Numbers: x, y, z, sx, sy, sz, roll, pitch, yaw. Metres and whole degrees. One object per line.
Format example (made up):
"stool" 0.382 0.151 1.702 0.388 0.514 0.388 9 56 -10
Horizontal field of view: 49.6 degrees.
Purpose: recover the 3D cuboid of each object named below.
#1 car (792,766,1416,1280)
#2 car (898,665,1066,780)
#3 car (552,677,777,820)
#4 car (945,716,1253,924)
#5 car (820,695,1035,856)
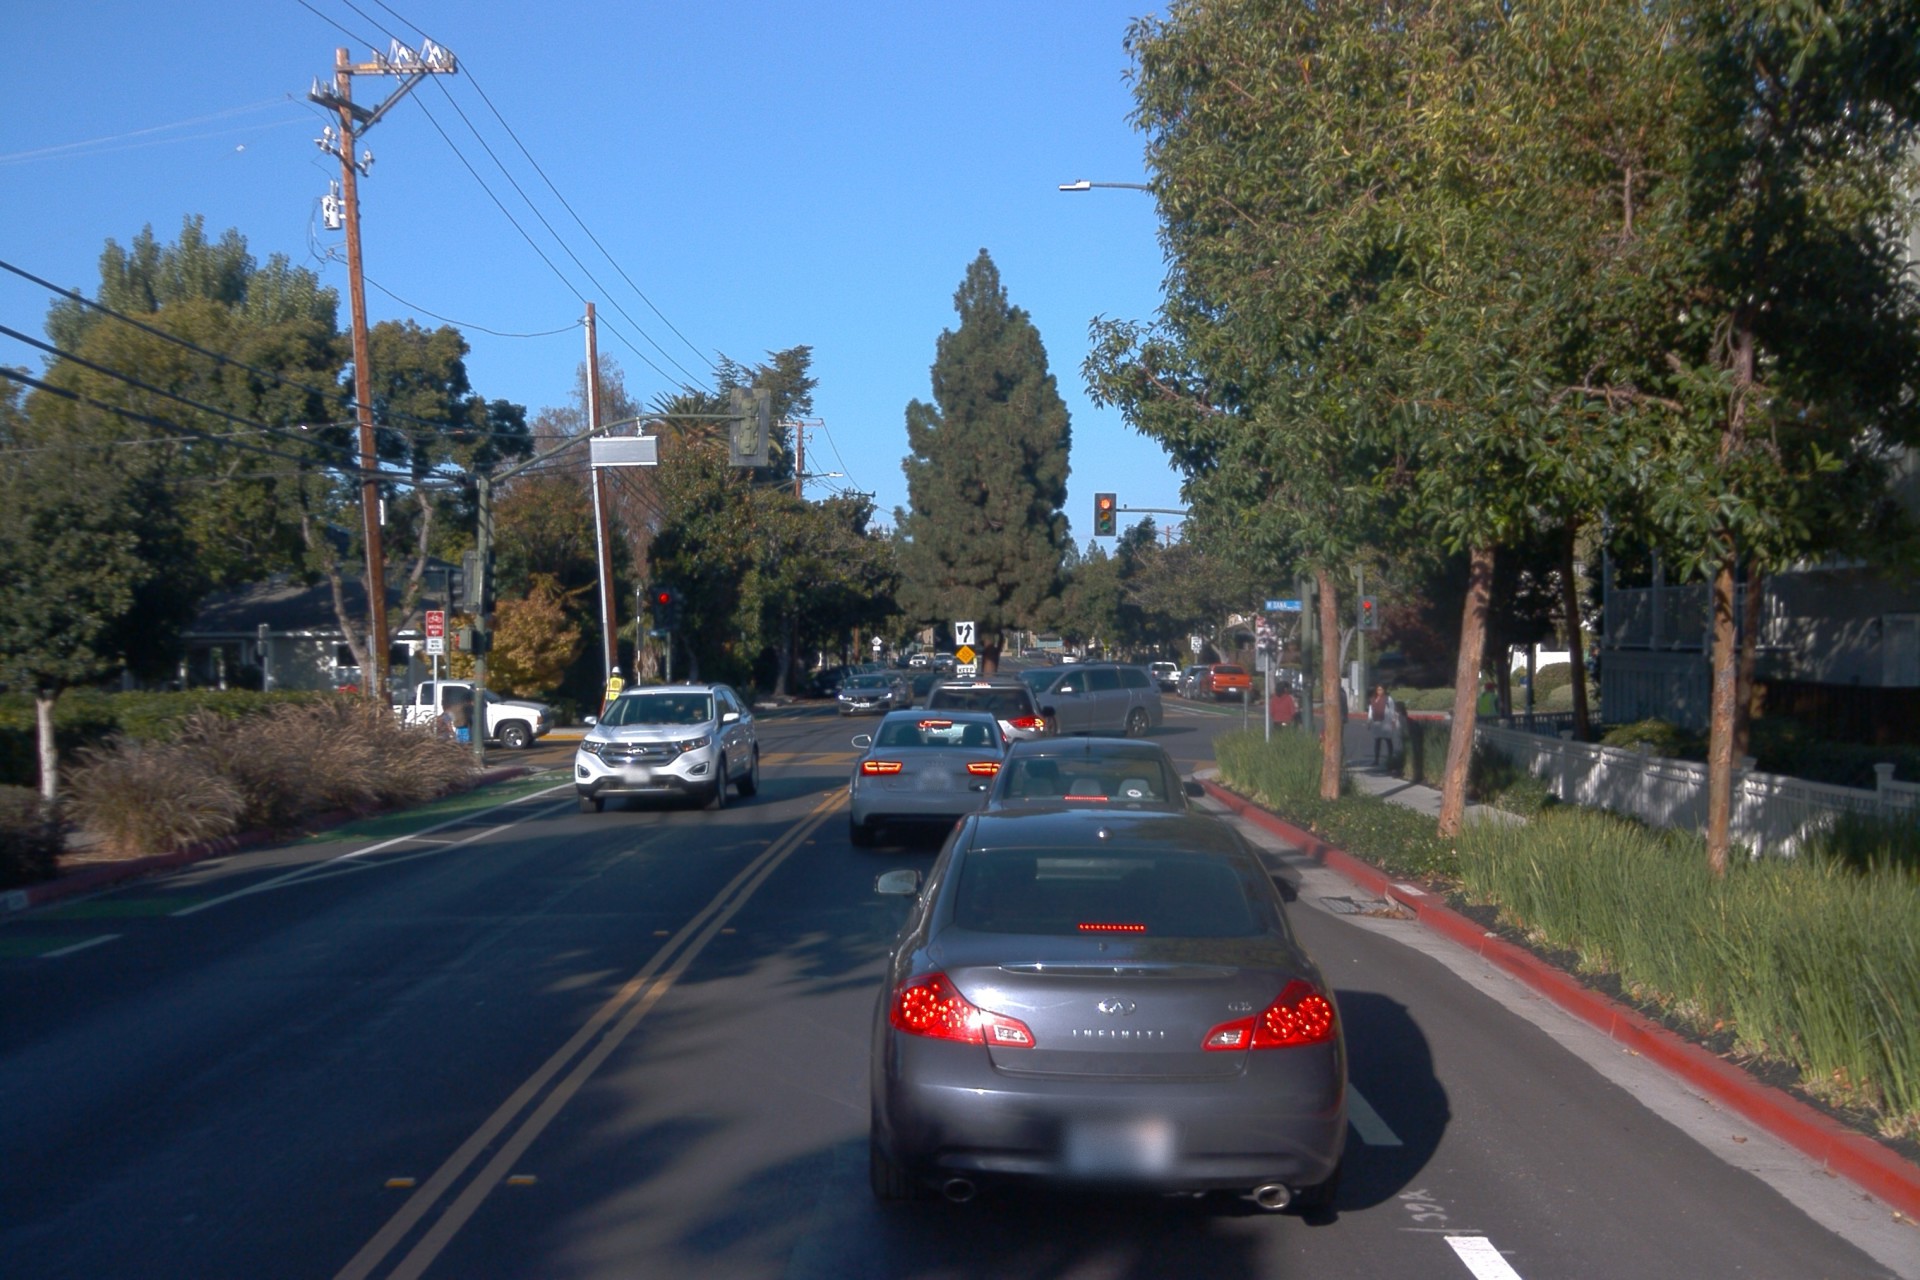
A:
"car" 0.567 1.427 9.064 2.033 1.460 4.435 1 0 3
"car" 0.357 1.176 31.289 2.317 1.510 4.744 1 0 1
"car" -4.038 1.441 29.305 2.214 1.740 4.804 1 0 3
"car" 0.993 1.271 15.845 2.028 1.210 4.035 1 0 2
"car" -0.260 1.447 23.532 2.122 1.500 4.397 1 0 3
